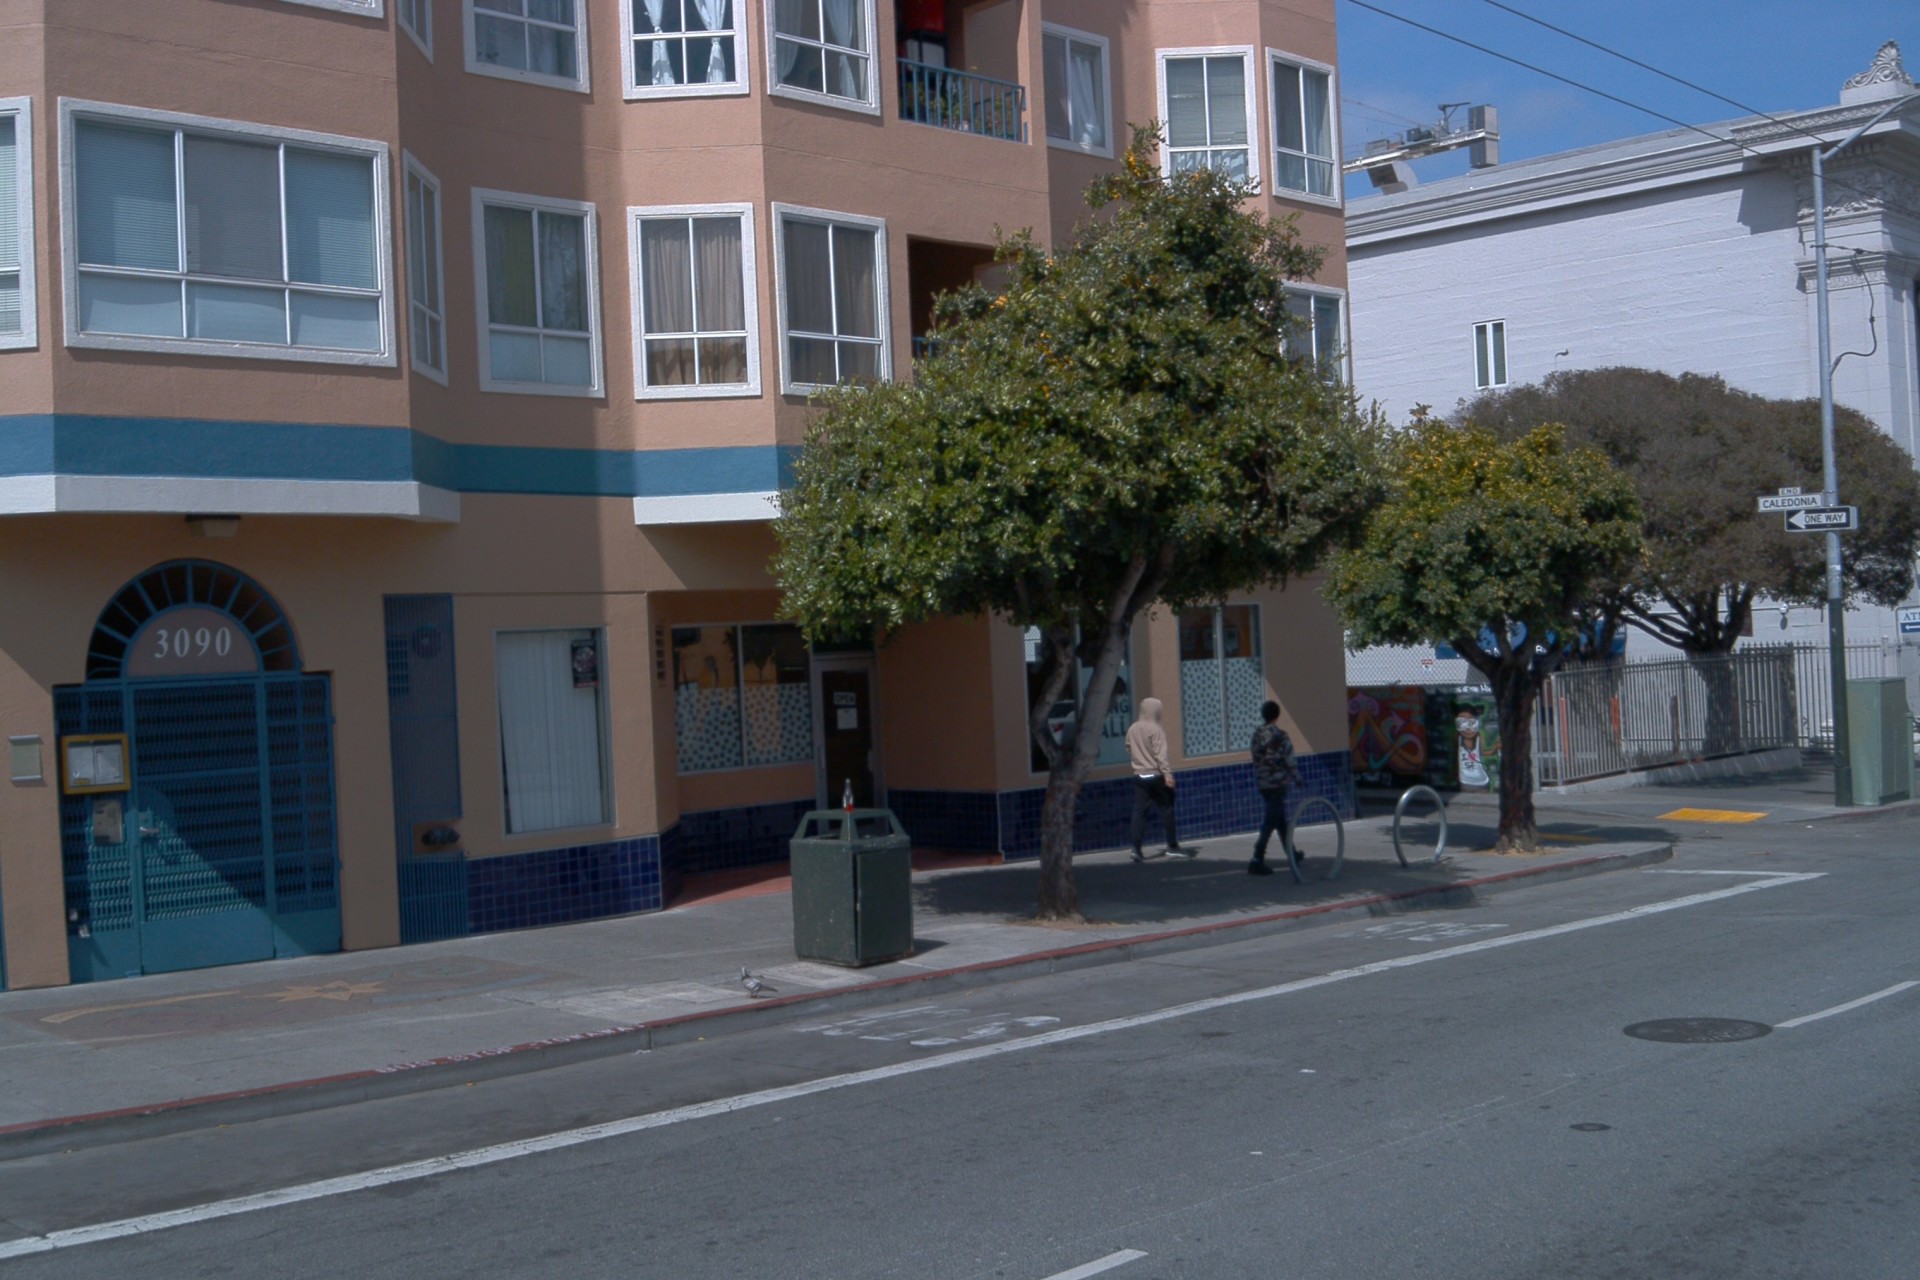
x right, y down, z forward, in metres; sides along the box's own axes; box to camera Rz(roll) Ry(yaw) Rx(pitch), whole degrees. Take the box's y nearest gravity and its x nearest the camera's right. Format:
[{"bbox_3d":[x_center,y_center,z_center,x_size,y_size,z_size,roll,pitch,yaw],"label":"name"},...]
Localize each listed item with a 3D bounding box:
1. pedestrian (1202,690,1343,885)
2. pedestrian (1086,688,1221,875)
[{"bbox_3d":[3.143,1.450,20.758,1.064,1.850,0.923,-1,1,-40],"label":"pedestrian"},{"bbox_3d":[2.060,1.475,21.985,0.960,1.870,1.103,1,1,42],"label":"pedestrian"}]
